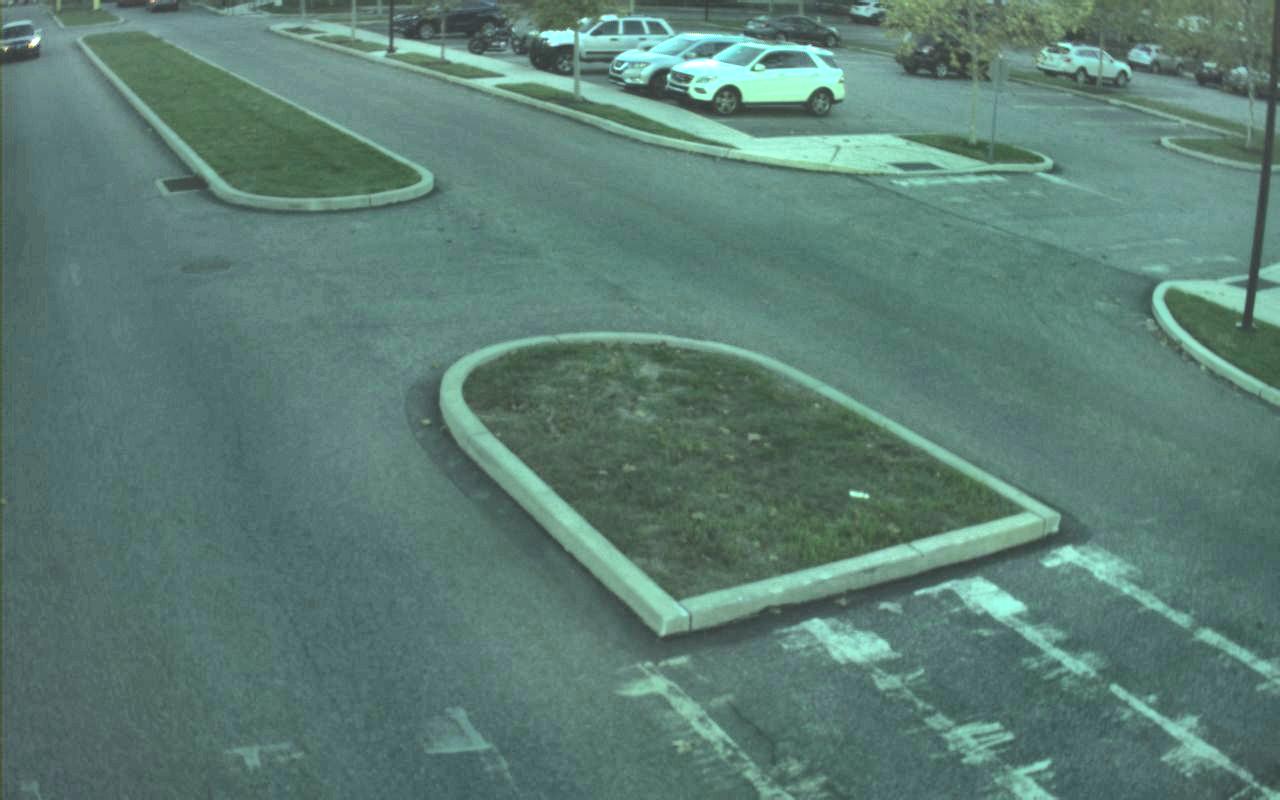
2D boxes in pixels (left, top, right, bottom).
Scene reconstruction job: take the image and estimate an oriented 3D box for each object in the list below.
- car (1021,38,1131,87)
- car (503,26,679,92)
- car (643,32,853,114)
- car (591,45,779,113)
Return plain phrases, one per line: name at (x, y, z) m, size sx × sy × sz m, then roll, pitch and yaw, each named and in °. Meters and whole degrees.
car at (17.907, -13.722, 47.967) m, size 4.808 × 1.770 × 2.044 m, roll -9°, pitch 18°, yaw -27°
car at (-1.466, -10.260, 37.040) m, size 4.868 × 1.802 × 2.069 m, roll -9°, pitch 17°, yaw -26°
car at (2.750, -8.201, 30.779) m, size 4.971 × 1.919 × 2.097 m, roll -11°, pitch 18°, yaw -30°
car at (1.221, -8.586, 32.940) m, size 4.634 × 1.674 × 1.999 m, roll -10°, pitch 18°, yaw -28°
